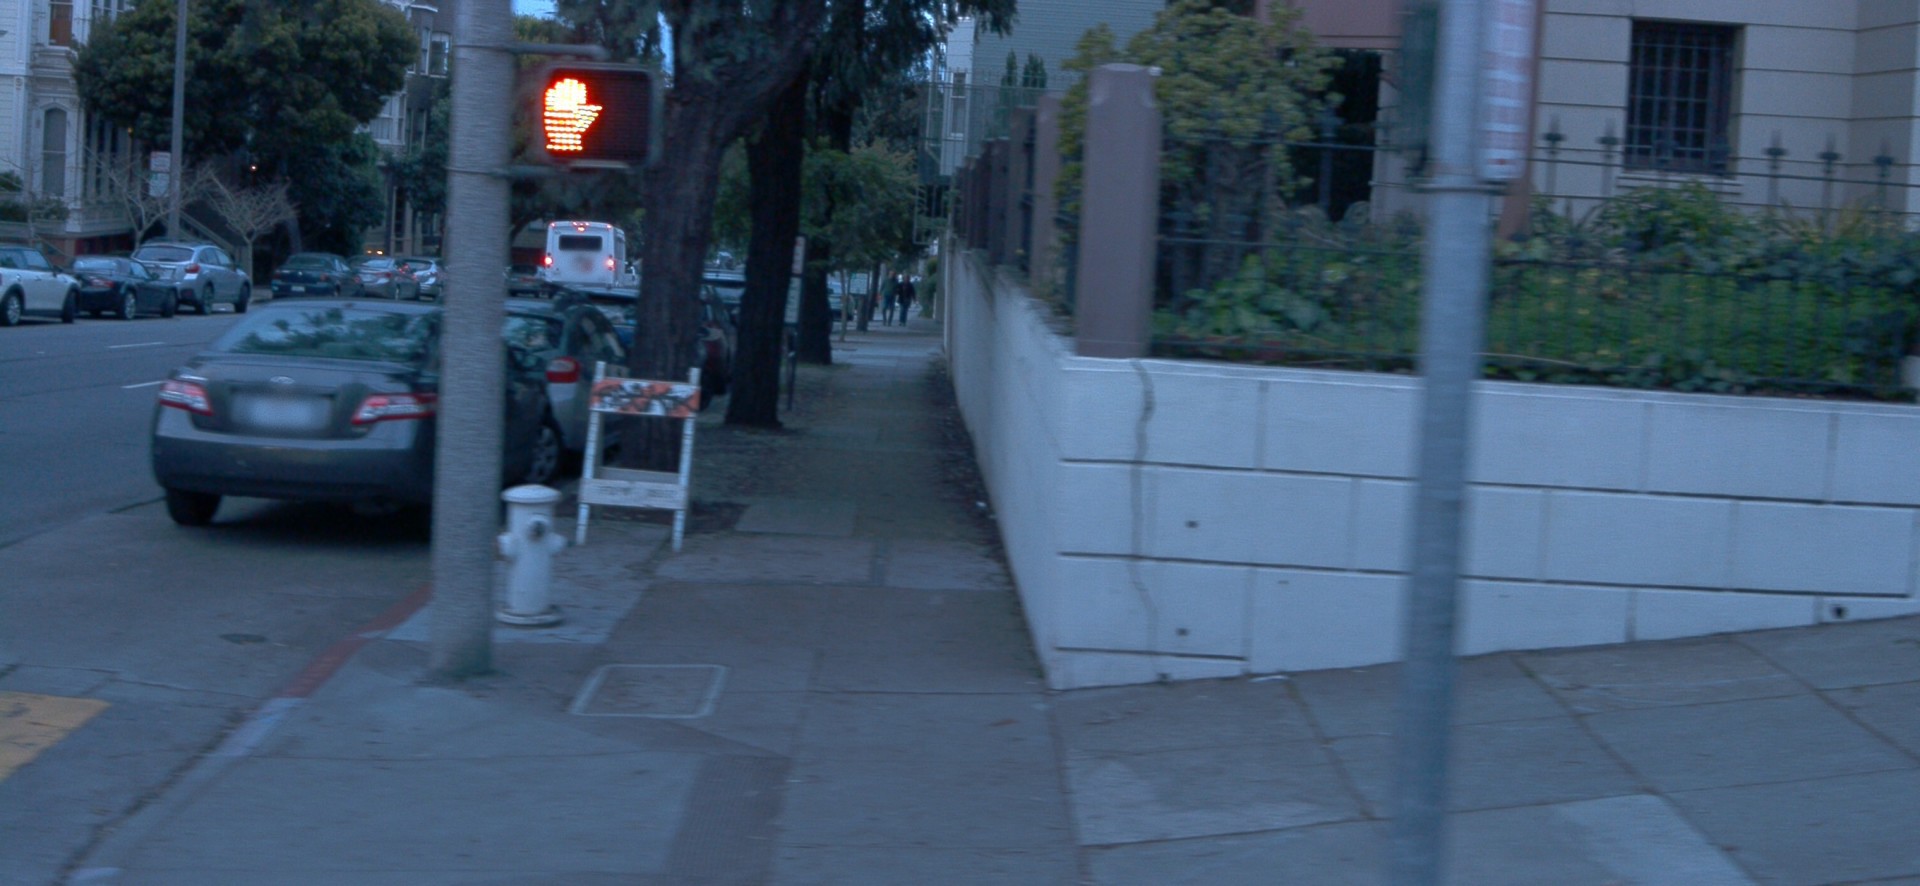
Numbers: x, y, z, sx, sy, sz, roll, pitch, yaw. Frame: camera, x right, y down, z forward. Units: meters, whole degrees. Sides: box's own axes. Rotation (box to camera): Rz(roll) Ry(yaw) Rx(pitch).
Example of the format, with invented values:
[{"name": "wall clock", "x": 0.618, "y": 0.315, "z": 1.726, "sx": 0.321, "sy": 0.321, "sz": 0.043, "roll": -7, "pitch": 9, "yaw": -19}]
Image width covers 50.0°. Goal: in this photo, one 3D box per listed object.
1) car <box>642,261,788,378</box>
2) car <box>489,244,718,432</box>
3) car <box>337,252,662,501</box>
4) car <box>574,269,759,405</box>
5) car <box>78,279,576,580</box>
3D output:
[{"name": "car", "x": -4.314, "y": -2.278, "z": 36.909, "sx": 2.035, "sy": 1.862, "sz": 4.610, "roll": 0, "pitch": 5, "yaw": 0}, {"name": "car", "x": -4.112, "y": -1.335, "z": 24.385, "sx": 2.046, "sy": 2.002, "sz": 4.021, "roll": 0, "pitch": 5, "yaw": -1}, {"name": "car", "x": -4.006, "y": -0.730, "z": 18.664, "sx": 2.065, "sy": 1.932, "sz": 4.288, "roll": 0, "pitch": 5, "yaw": -1}, {"name": "car", "x": -4.290, "y": -1.656, "z": 30.741, "sx": 2.212, "sy": 1.782, "sz": 4.300, "roll": 0, "pitch": 5, "yaw": -1}, {"name": "car", "x": -4.032, "y": -0.256, "z": 14.025, "sx": 2.070, "sy": 1.583, "sz": 4.637, "roll": 0, "pitch": 5, "yaw": -2}]
